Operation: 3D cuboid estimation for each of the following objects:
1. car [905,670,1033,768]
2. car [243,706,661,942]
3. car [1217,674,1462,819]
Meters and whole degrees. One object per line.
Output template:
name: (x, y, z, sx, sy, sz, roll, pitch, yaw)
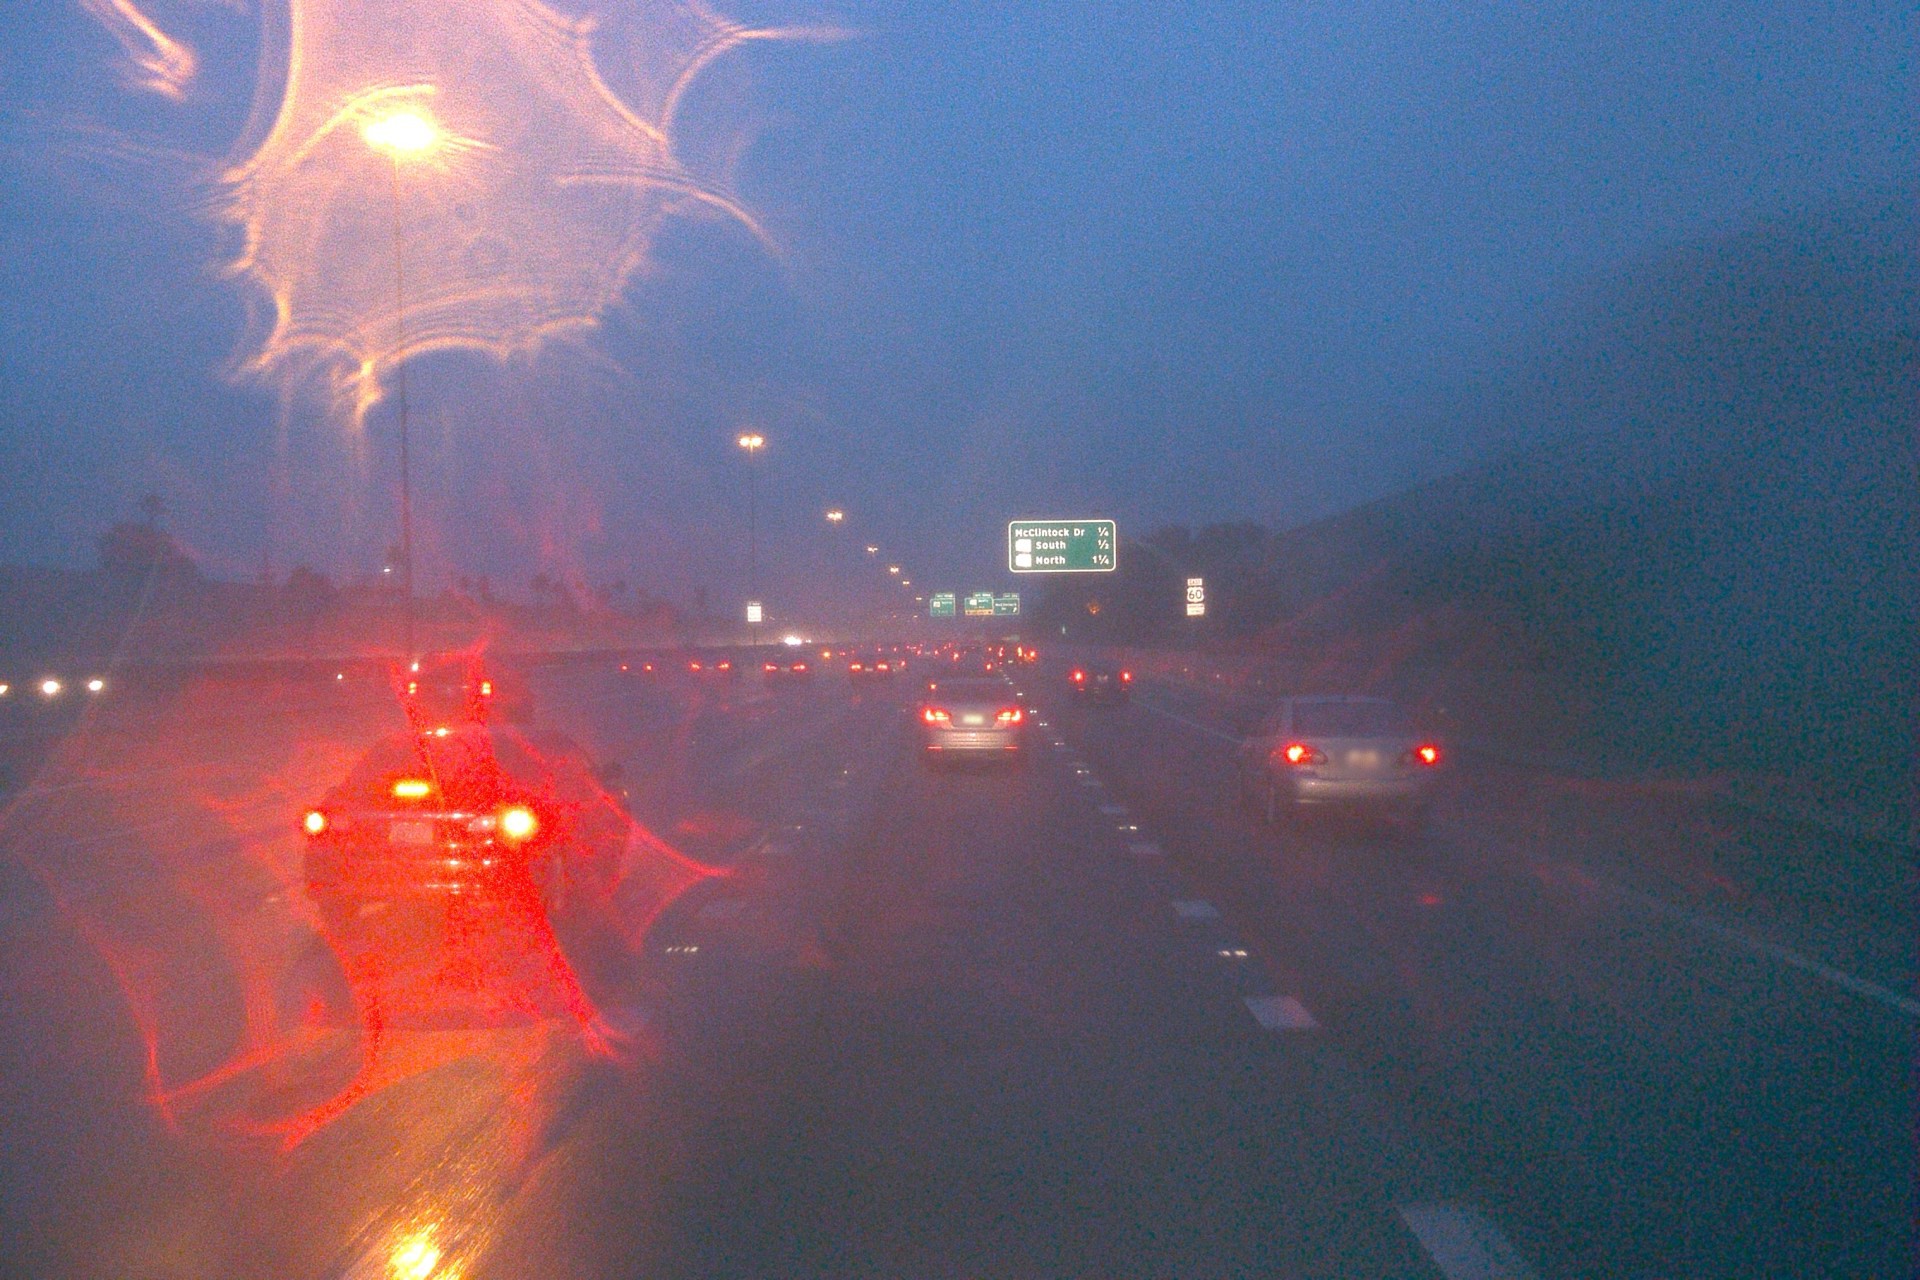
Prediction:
car: (0.169, 1.253, 34.081, 1.967, 1.470, 4.133, 0, 0, 1)
car: (-3.792, 1.324, 16.433, 2.168, 1.490, 4.575, 0, 0, 0)
car: (4.181, 1.136, 23.602, 2.013, 1.440, 4.411, 0, 0, 1)
